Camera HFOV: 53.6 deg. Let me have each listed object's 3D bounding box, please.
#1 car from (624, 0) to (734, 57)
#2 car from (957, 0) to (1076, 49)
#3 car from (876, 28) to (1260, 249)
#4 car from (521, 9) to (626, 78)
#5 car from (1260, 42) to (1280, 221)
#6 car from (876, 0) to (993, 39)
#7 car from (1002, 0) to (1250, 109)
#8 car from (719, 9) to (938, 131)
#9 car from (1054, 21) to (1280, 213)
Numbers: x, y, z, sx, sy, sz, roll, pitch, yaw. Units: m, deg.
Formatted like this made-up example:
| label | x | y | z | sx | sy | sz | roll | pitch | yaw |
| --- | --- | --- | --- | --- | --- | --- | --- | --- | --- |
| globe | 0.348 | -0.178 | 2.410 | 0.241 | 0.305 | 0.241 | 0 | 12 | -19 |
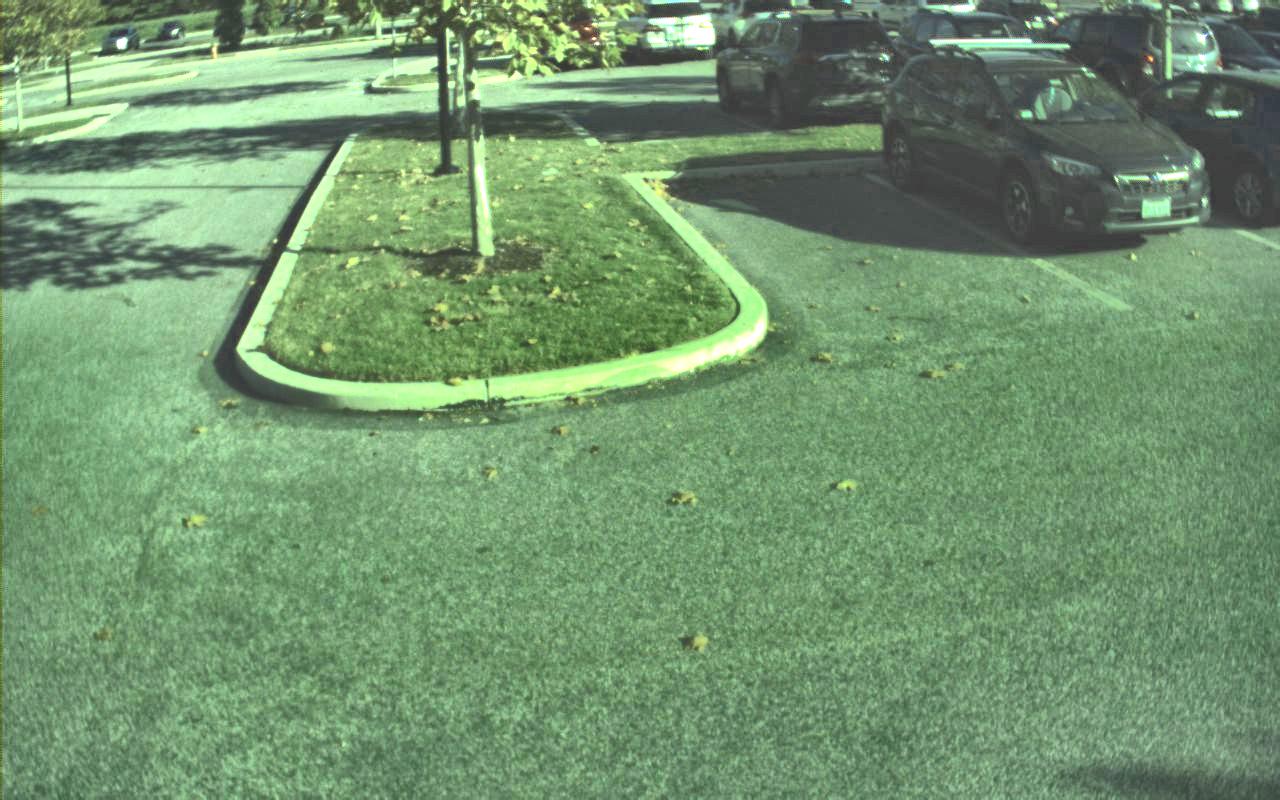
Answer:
| label | x | y | z | sx | sy | sz | roll | pitch | yaw |
| --- | --- | --- | --- | --- | --- | --- | --- | --- | --- |
| car | 0.946 | -10.112 | 32.794 | 2.039 | 1.818 | 4.708 | -4 | 17 | -9 |
| car | 10.940 | -11.157 | 34.435 | 1.949 | 1.666 | 4.464 | -3 | 17 | -7 |
| car | 3.990 | -2.712 | 11.645 | 1.946 | 1.694 | 4.535 | -4 | 17 | -10 |
| car | -1.842 | -9.369 | 32.287 | 1.964 | 1.649 | 4.488 | -5 | 17 | -12 |
| car | 9.249 | -3.190 | 12.218 | 1.953 | 1.572 | 4.570 | -3 | 17 | -6 |
| car | 8.369 | -11.254 | 34.301 | 2.037 | 1.757 | 4.753 | -2 | 17 | -4 |
| car | 8.070 | -5.965 | 19.339 | 2.031 | 1.768 | 4.708 | -5 | 17 | -13 |
| car | 2.821 | -5.289 | 19.384 | 2.020 | 1.716 | 4.804 | -4 | 17 | -10 |
| car | 6.547 | -3.251 | 12.591 | 1.970 | 1.678 | 4.555 | -5 | 17 | -12 |
